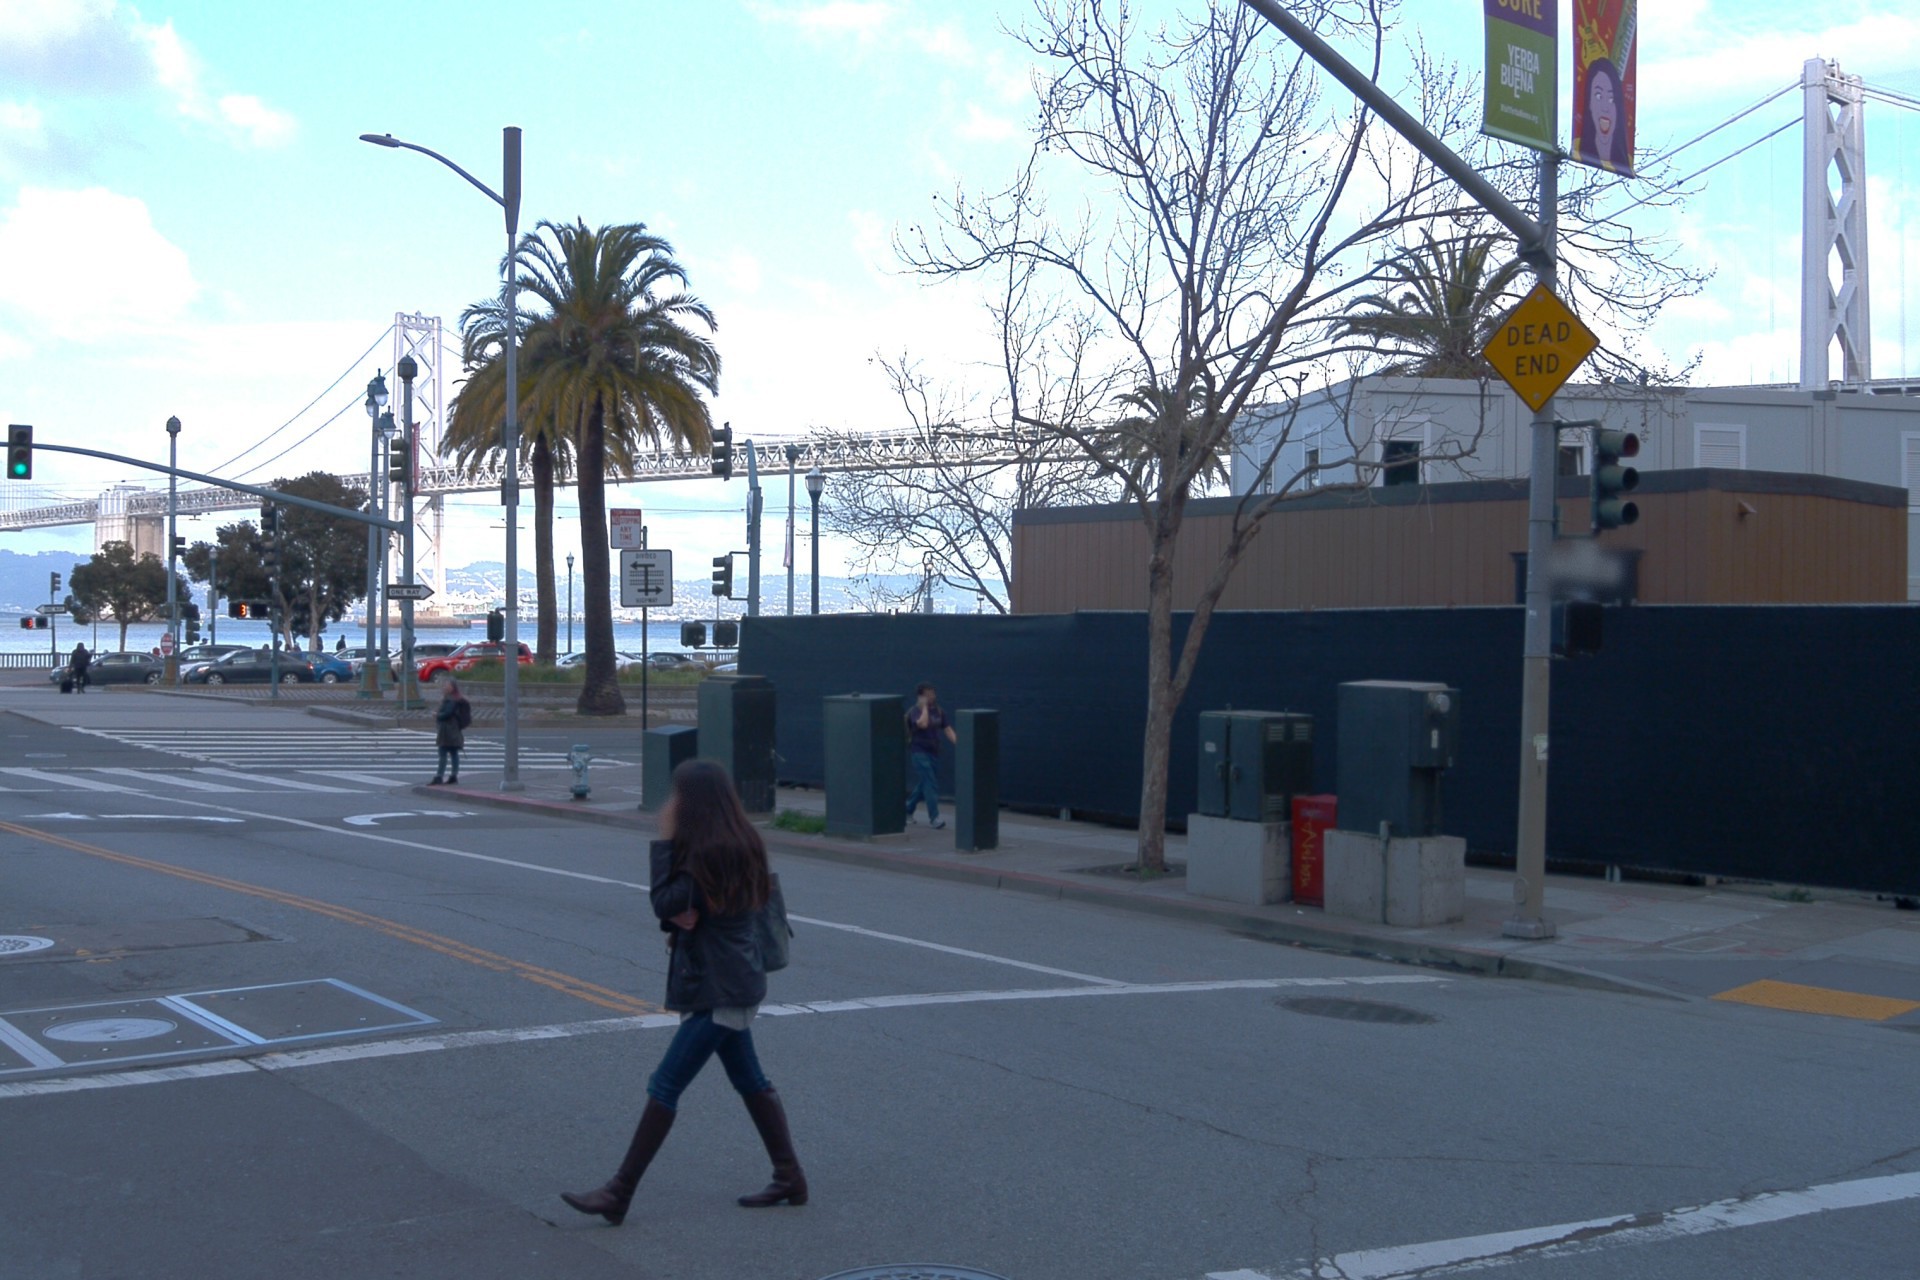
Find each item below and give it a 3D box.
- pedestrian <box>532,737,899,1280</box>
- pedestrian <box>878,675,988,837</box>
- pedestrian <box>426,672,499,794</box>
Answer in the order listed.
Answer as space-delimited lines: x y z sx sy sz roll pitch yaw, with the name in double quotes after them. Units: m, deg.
-0.877 1.238 7.233 1.092 1.720 0.848 0 1 -22 "pedestrian"
-0.322 1.349 24.286 0.792 1.820 1.064 -1 1 -40 "pedestrian"
-7.567 1.399 31.271 0.841 1.790 0.831 -1 1 -35 "pedestrian"
